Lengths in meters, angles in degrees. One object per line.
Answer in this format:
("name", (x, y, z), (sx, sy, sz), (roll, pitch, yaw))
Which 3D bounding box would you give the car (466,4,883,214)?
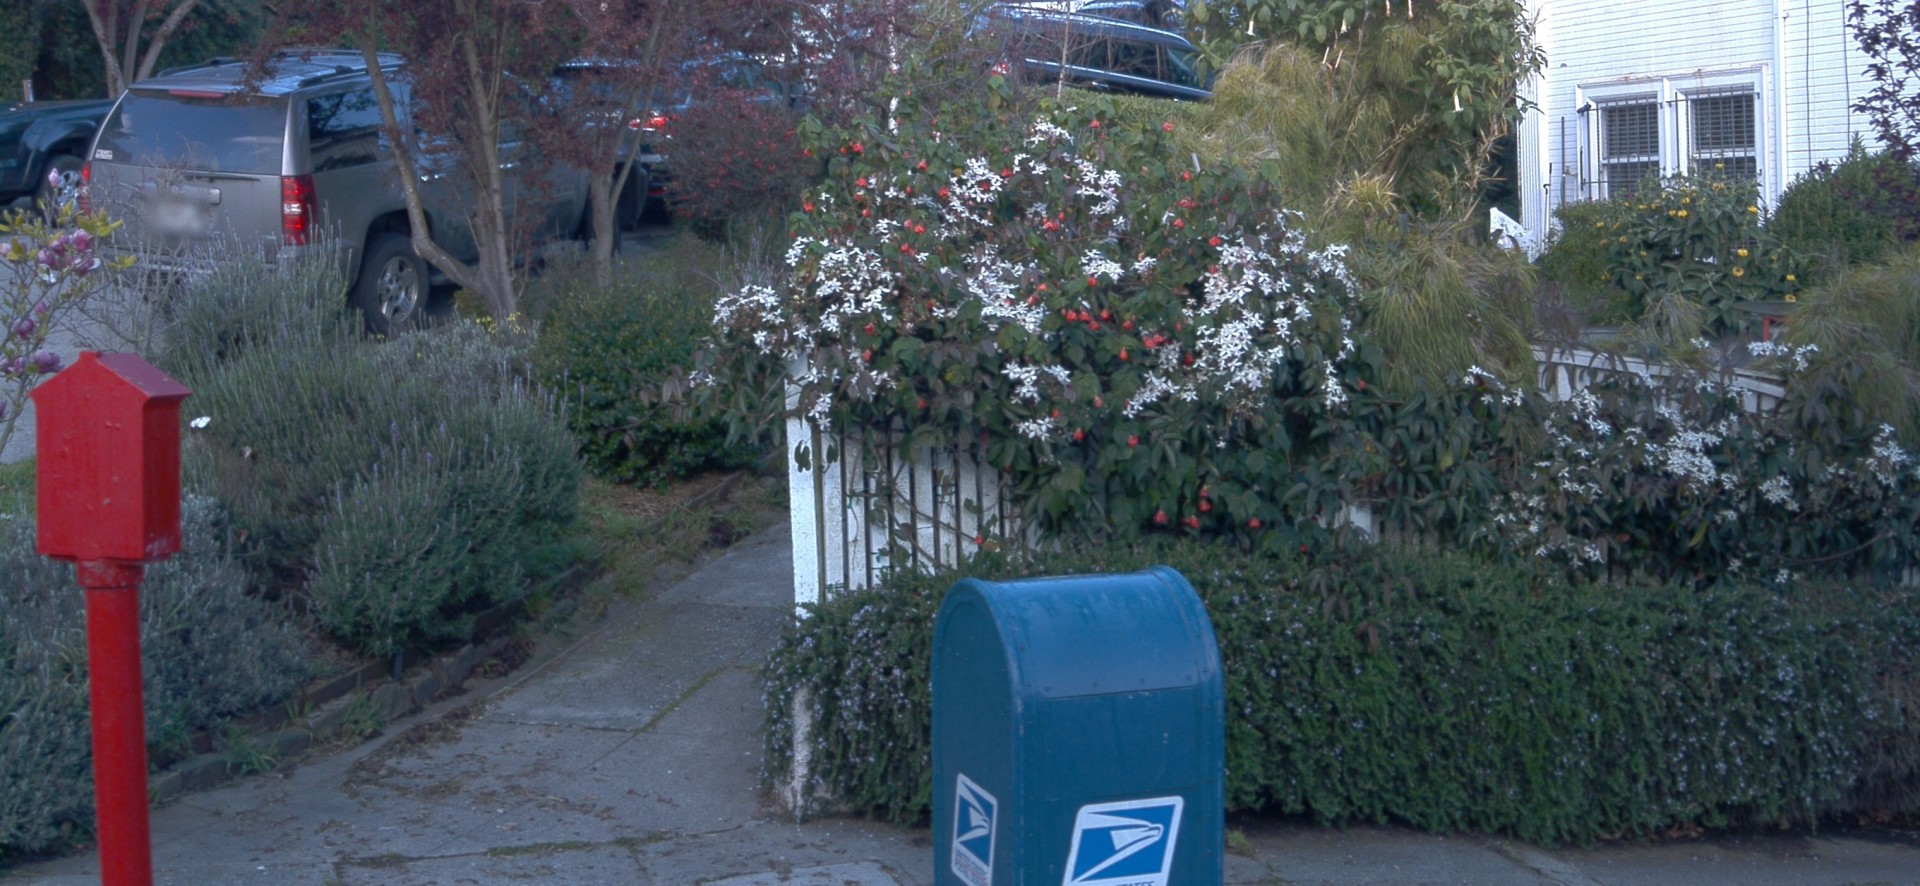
("car", (-2.692, -3.257, 20.866), (2.263, 1.798, 5.079), (1, 5, 17))

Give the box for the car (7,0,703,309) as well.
("car", (-4.313, -2.148, 15.812), (2.554, 2.002, 5.266), (2, 5, 19))
